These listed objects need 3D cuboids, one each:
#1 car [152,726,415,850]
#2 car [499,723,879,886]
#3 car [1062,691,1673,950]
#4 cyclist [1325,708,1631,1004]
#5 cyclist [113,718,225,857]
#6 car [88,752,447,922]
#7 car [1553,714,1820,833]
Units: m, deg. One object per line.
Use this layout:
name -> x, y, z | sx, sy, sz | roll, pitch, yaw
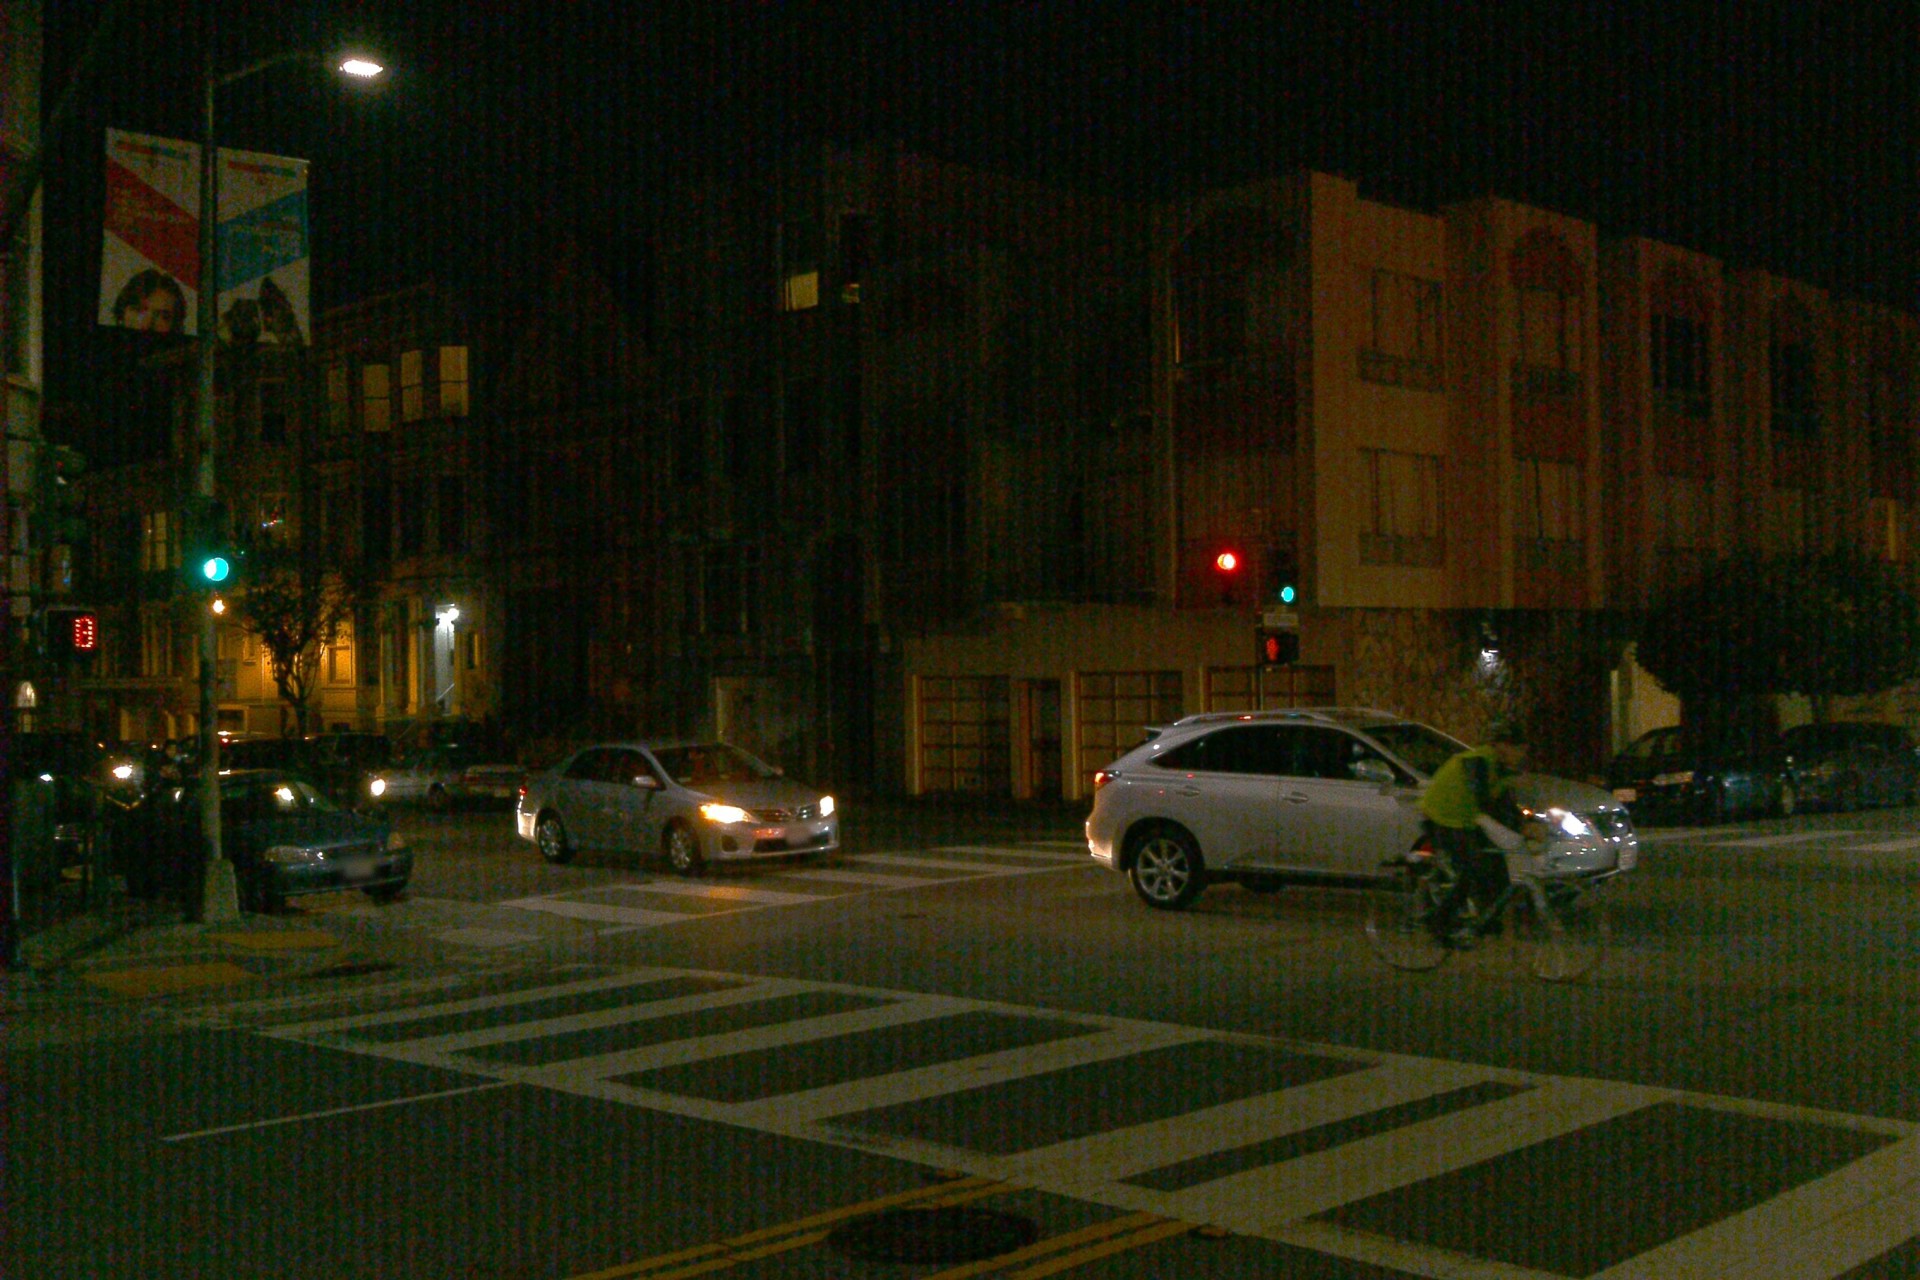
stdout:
car -> -10.233, 2.153, 31.048 | 2.021, 1.480, 4.494 | 1, 0, -43
car -> -3.197, 1.794, 23.746 | 2.125, 1.450, 4.459 | 1, 0, -43
car -> 3.392, 1.400, 17.660 | 4.615, 1.760, 2.139 | 1, 0, 39
cyclist -> 3.402, 1.365, 13.642 | 1.769, 1.750, 0.771 | 1, 0, 39
cyclist -> -10.890, 1.999, 28.414 | 0.771, 1.760, 1.750 | 1, 0, -45
car -> -7.499, 2.020, 22.146 | 1.946, 1.350, 4.278 | 1, 0, -44
car -> 10.607, 1.864, 29.966 | 1.967, 1.430, 4.633 | 1, 0, 42
